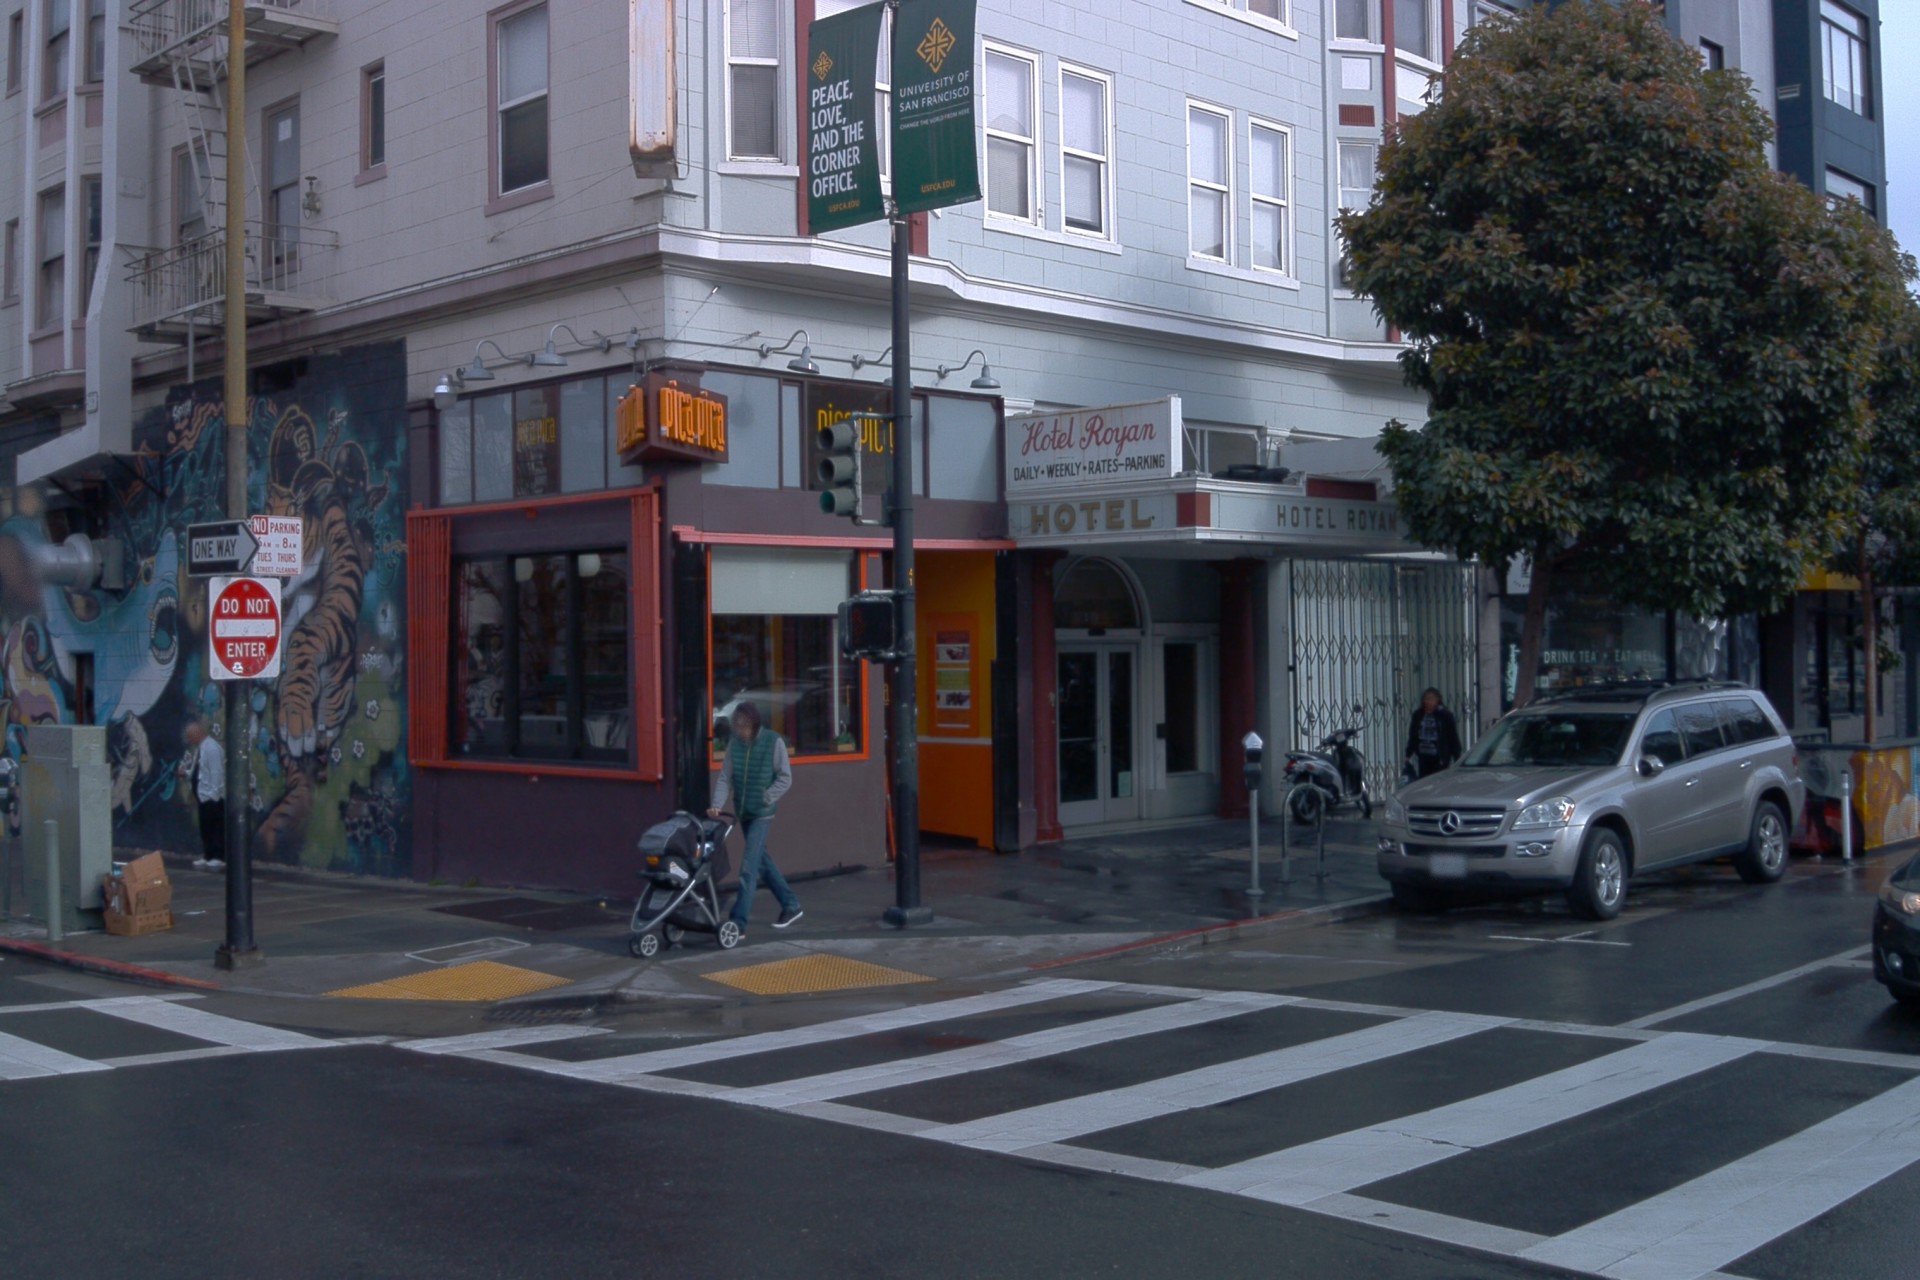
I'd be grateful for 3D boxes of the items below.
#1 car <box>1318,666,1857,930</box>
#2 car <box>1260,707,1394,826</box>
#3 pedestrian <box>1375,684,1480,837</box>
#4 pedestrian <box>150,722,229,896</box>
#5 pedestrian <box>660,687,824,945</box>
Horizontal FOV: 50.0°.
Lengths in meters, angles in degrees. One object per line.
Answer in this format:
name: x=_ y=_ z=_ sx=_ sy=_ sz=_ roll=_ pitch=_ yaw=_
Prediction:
car: x=5.796 y=1.246 z=18.508 sx=5.553 sy=1.870 sz=2.244 roll=-1 pitch=1 yaw=-45
car: x=4.296 y=1.448 z=23.960 sx=0.638 sy=1.234 sz=1.927 roll=1 pitch=1 yaw=41
pedestrian: x=5.225 y=1.323 z=22.976 sx=0.852 sy=1.620 sz=0.816 roll=1 pitch=1 yaw=39
pedestrian: x=-8.707 y=1.894 z=23.239 sx=0.623 sy=1.880 sz=0.676 roll=-1 pitch=1 yaw=-42
pedestrian: x=-1.722 y=1.354 z=16.256 sx=0.871 sy=1.910 sz=0.946 roll=1 pitch=1 yaw=39
